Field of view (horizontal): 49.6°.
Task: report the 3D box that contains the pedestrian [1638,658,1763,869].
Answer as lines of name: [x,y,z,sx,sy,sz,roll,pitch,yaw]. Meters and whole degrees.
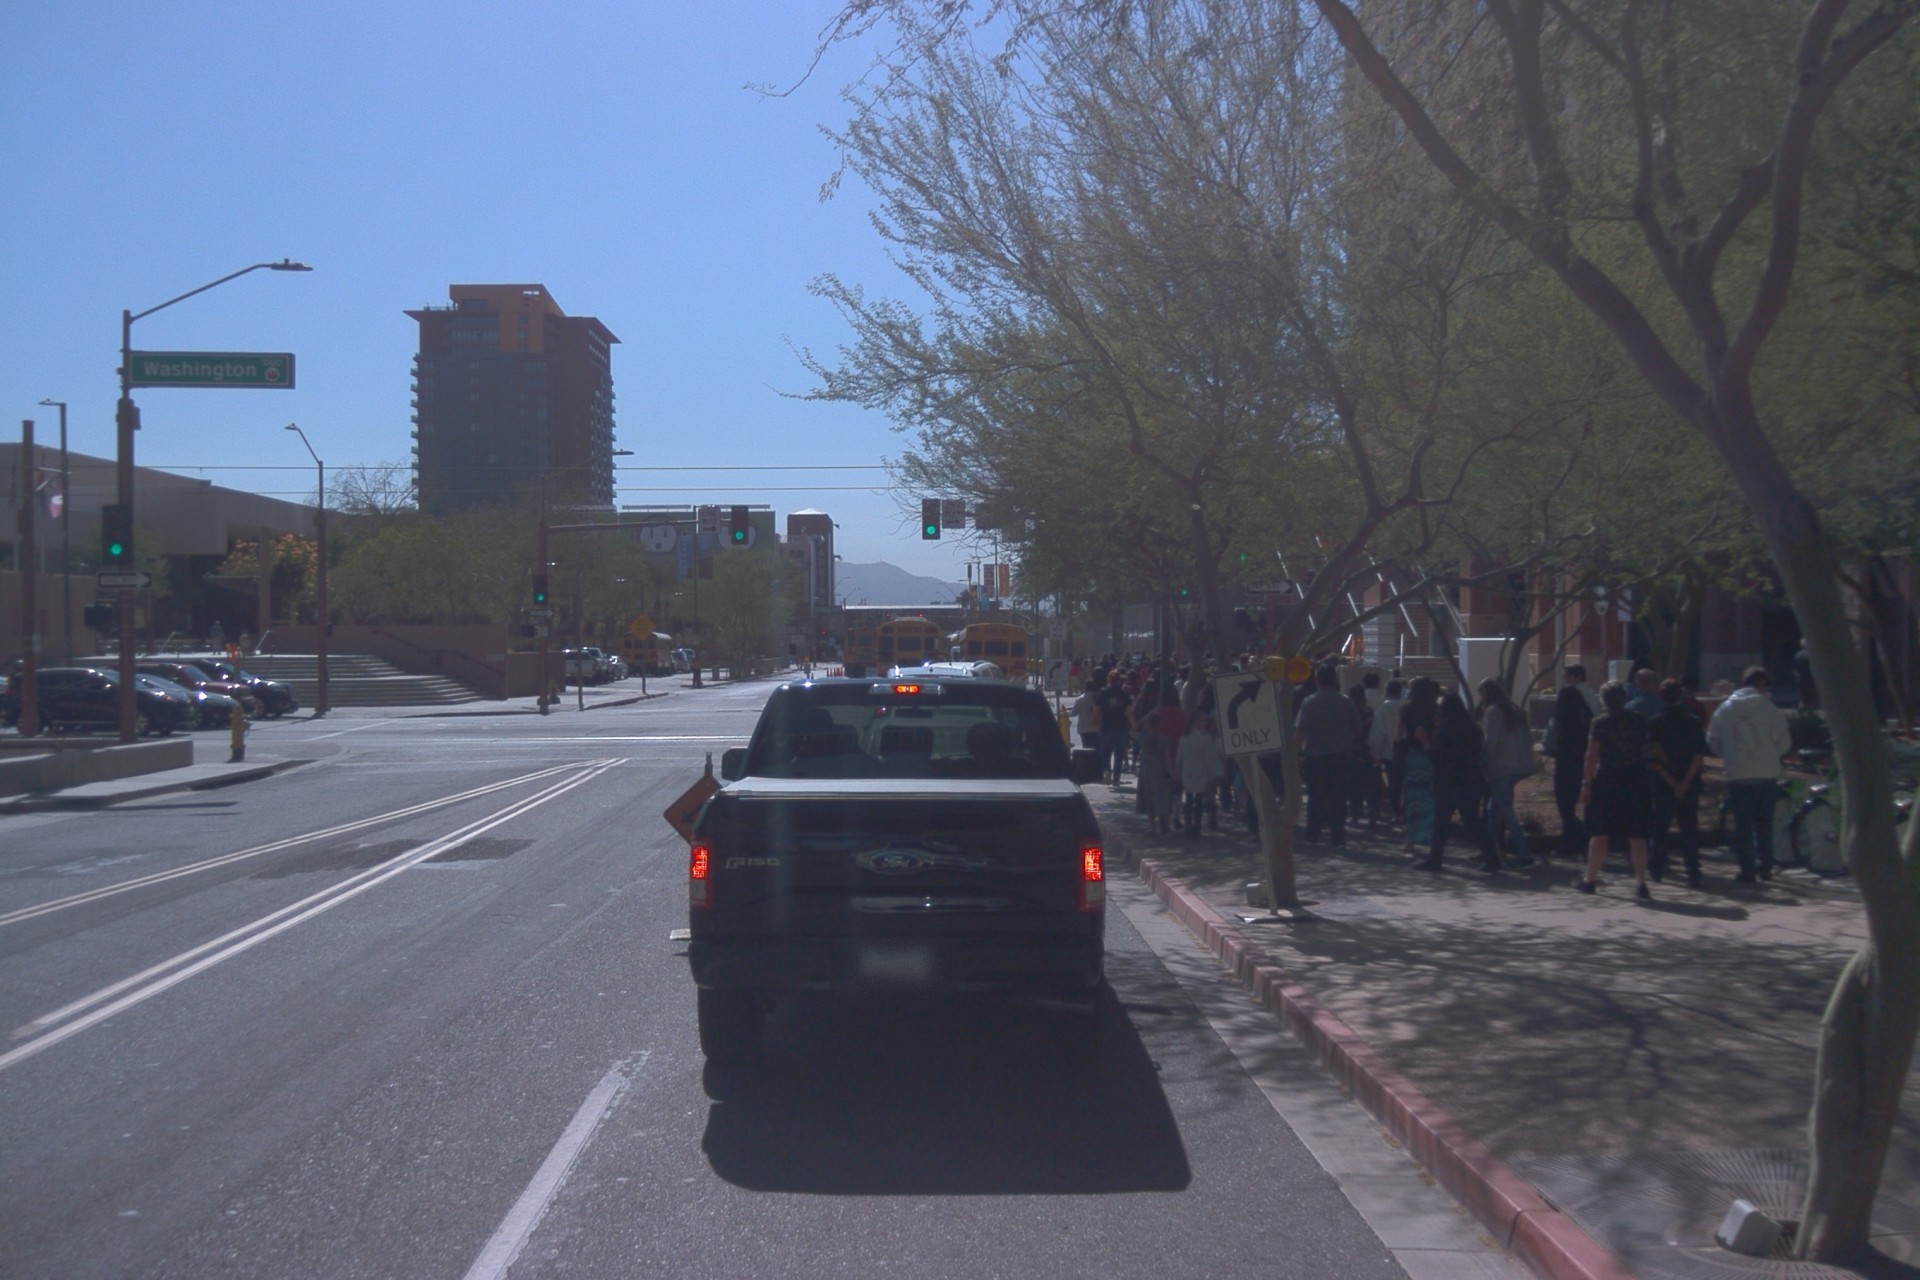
pedestrian: [6.743,1.107,18.968,0.835,1.880,0.792,0,0,-2]

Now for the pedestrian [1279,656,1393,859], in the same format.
pedestrian: [3.604,1.105,19.993,0.959,1.900,0.880,0,0,3]

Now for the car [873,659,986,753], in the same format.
car: [-0.456,1.047,34.559,1.753,1.430,4.270,0,0,1]

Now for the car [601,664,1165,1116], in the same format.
car: [-0.319,1.136,11.869,2.487,1.950,5.329,0,0,1]
